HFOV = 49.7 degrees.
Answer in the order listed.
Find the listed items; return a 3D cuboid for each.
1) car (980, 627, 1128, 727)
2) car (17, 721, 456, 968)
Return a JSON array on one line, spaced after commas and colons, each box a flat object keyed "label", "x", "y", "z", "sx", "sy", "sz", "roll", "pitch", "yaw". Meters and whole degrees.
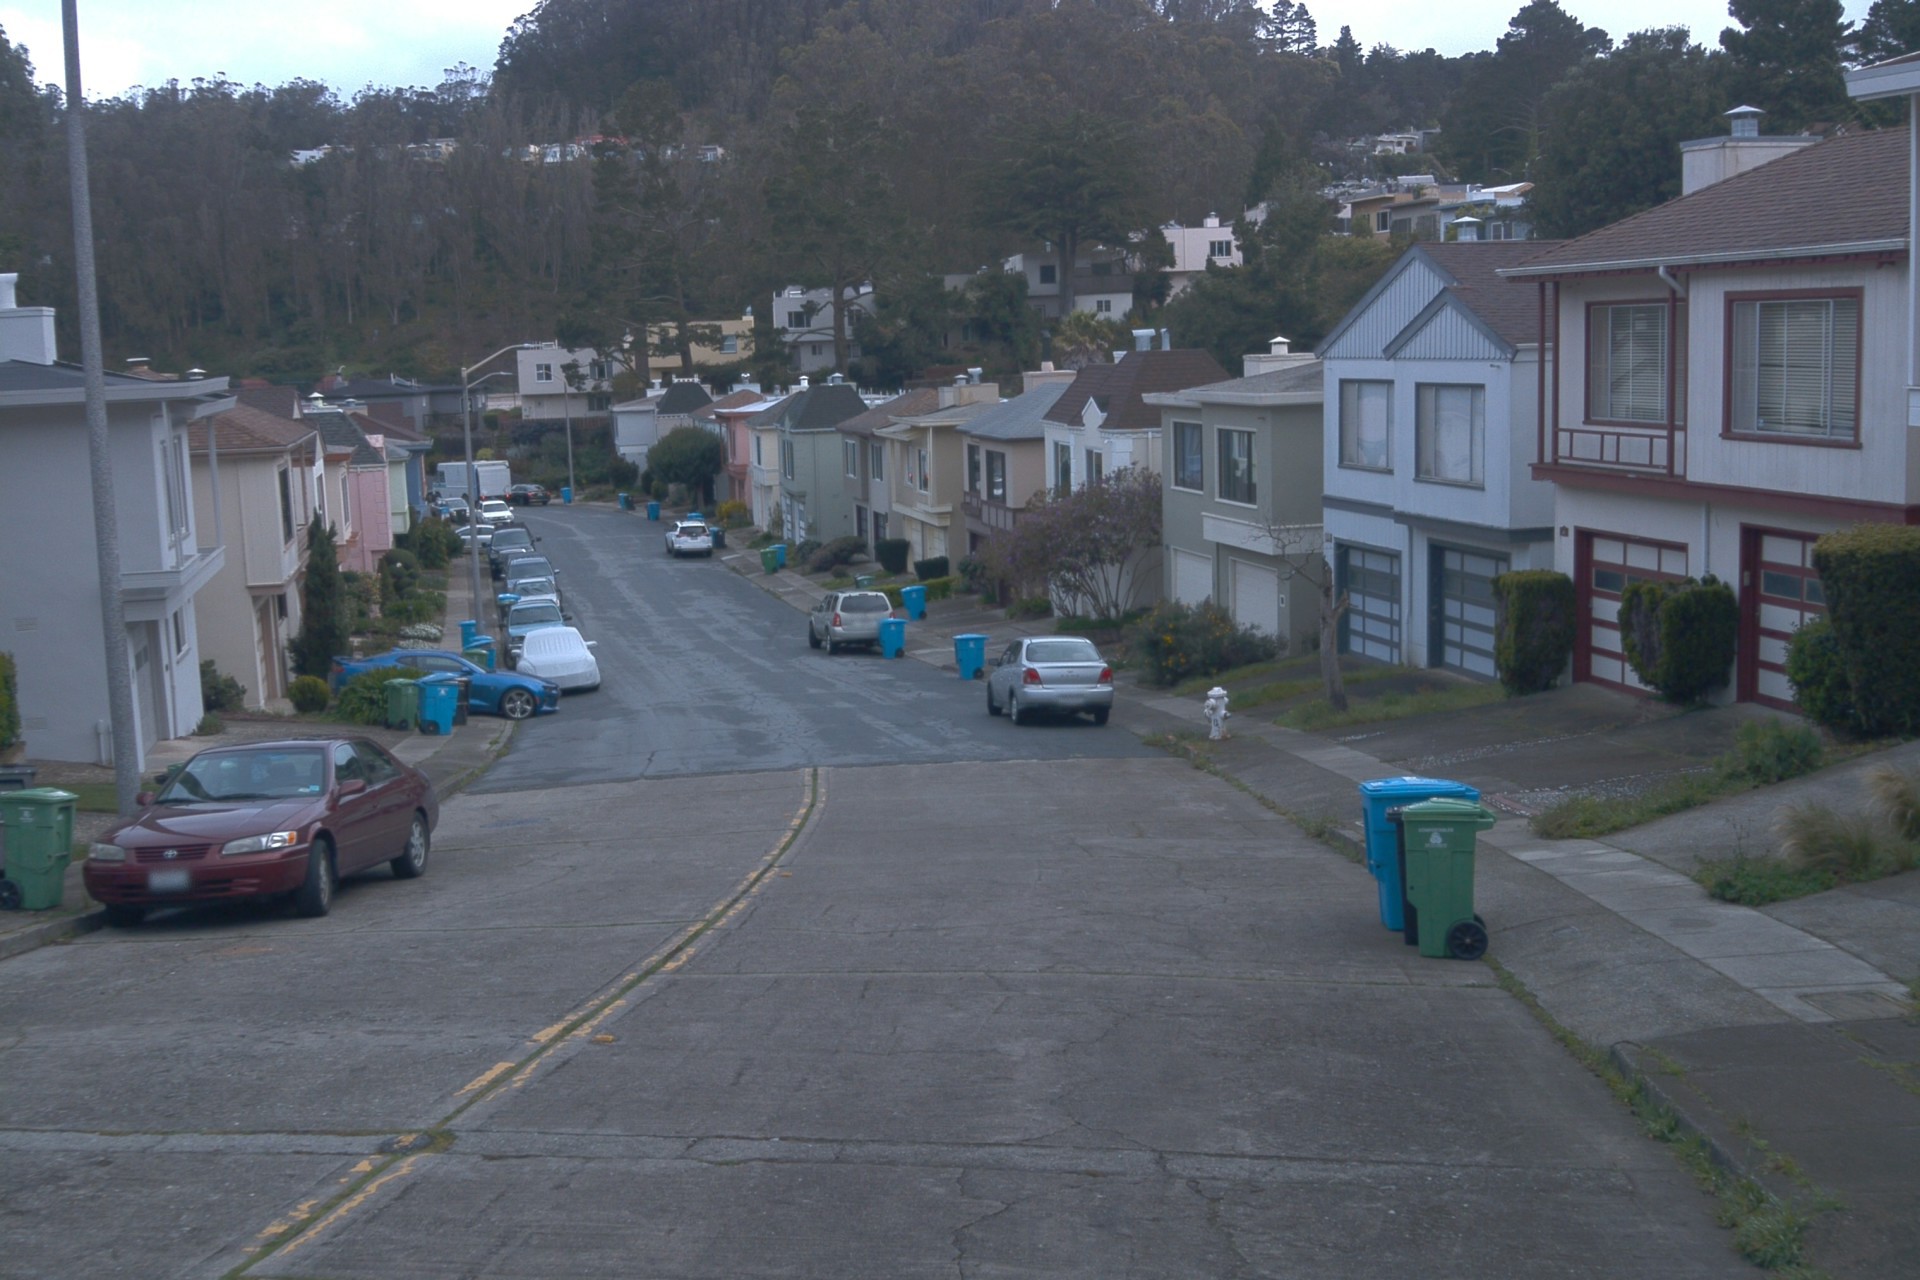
[{"label": "car", "x": 1.574, "y": 0.612, "z": 36.070, "sx": 1.851, "sy": 1.630, "sz": 4.219, "roll": 0, "pitch": 0, "yaw": -8}, {"label": "car", "x": -5.941, "y": 1.608, "z": 17.707, "sx": 2.007, "sy": 1.660, "sz": 4.692, "roll": 0, "pitch": 0, "yaw": 2}]
